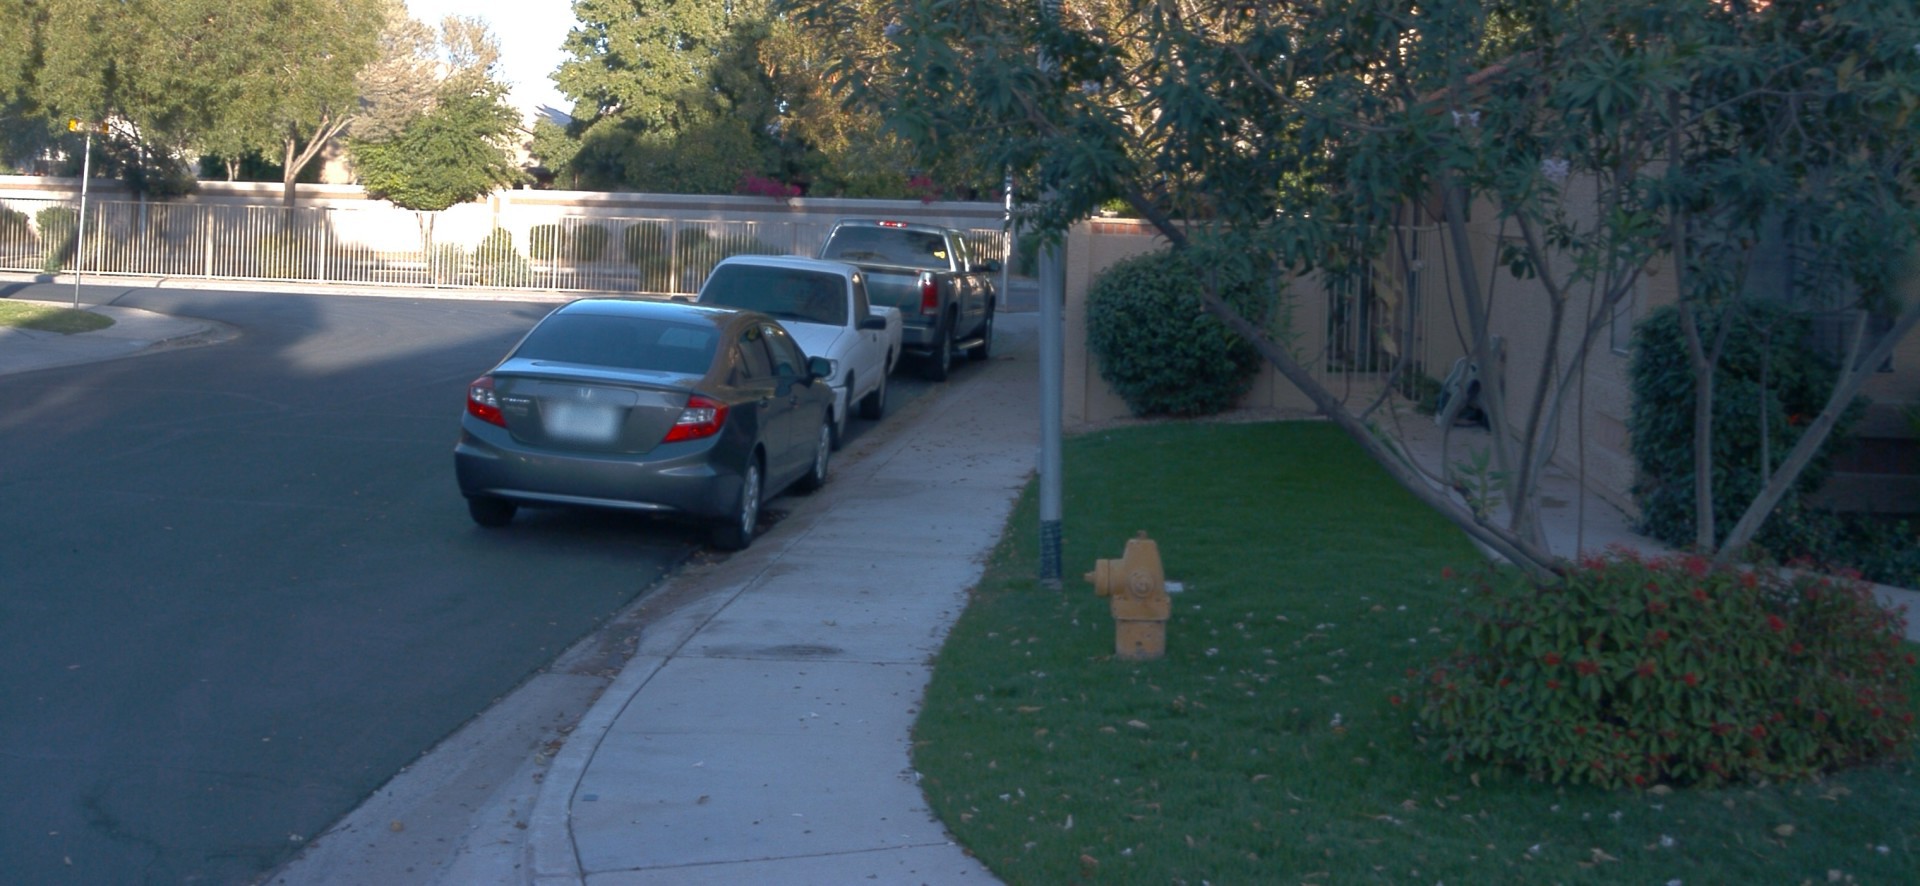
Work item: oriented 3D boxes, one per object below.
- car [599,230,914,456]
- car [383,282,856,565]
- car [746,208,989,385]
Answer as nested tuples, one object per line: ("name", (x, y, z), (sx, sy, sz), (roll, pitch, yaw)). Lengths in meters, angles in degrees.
("car", (-1.709, -1.037, 19.194), (2.025, 1.794, 4.714), (1, 5, 5))
("car", (-2.031, -0.287, 13.873), (2.059, 1.464, 4.473), (1, 5, 5))
("car", (-1.024, -1.940, 26.500), (2.172, 1.983, 5.485), (1, 5, 7))
